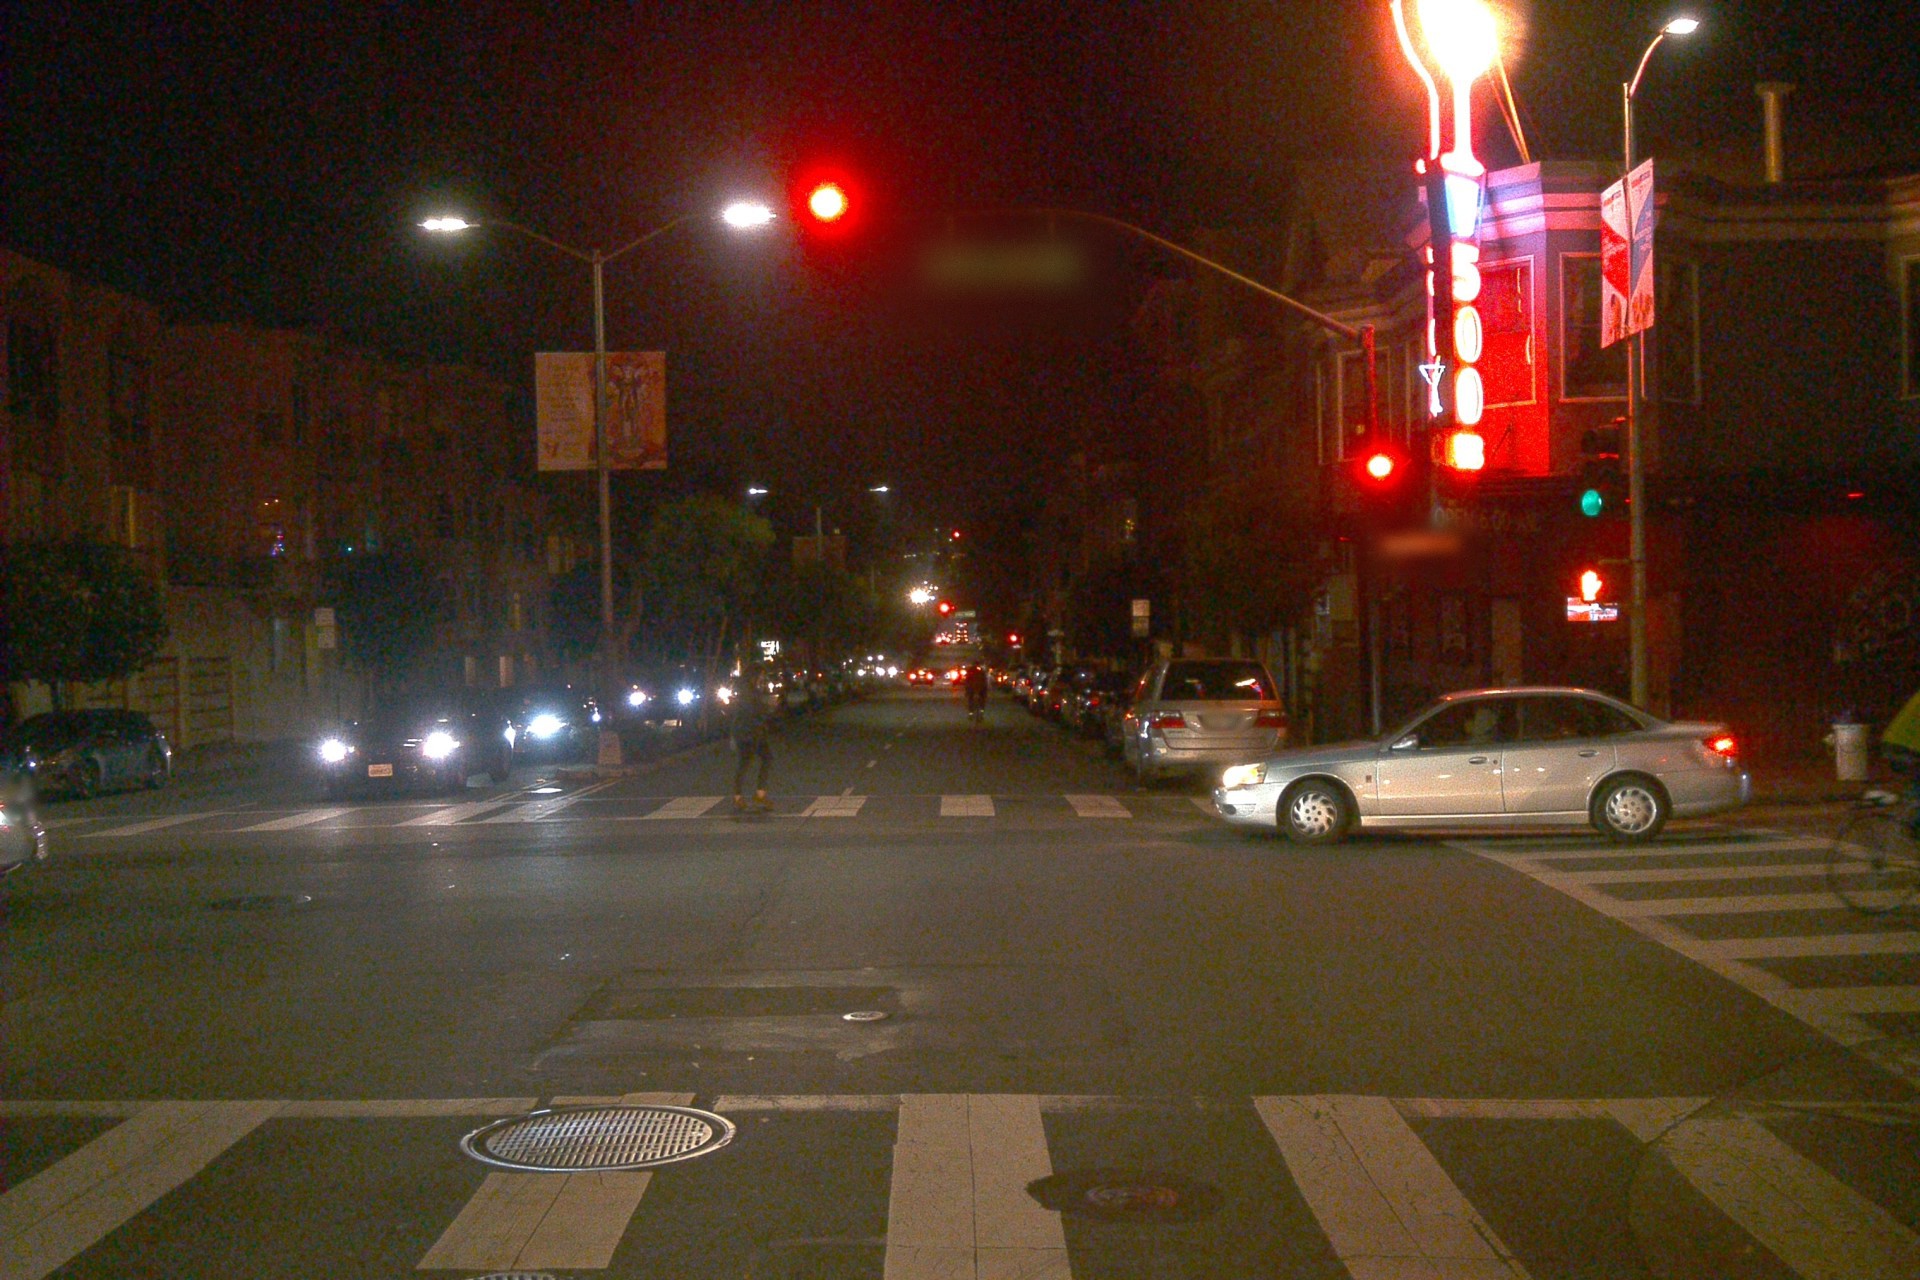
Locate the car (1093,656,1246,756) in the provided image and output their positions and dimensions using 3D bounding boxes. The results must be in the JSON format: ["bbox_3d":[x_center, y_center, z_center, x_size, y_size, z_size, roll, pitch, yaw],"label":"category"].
[{"bbox_3d":[3.322,1.023,33.308,1.810,1.470,4.216,1,0,-3],"label":"car"}]

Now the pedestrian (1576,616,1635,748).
[{"bbox_3d":[9.050,0.577,28.828,0.739,1.820,0.628,1,0,20],"label":"pedestrian"}]

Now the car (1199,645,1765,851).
[{"bbox_3d":[4.745,0.931,19.163,4.826,1.720,2.135,1,0,11],"label":"car"}]

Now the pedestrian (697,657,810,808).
[{"bbox_3d":[-2.377,1.052,23.825,1.189,1.690,0.924,1,0,1],"label":"pedestrian"}]

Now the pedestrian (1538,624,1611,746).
[{"bbox_3d":[8.813,0.643,29.498,0.721,1.720,0.691,1,0,-18],"label":"pedestrian"}]

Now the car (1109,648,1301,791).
[{"bbox_3d":[3.288,1.020,28.469,2.087,1.770,4.655,1,0,0],"label":"car"}]

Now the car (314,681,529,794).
[{"bbox_3d":[-7.622,1.334,29.551,1.903,1.390,4.511,1,0,0],"label":"car"}]
